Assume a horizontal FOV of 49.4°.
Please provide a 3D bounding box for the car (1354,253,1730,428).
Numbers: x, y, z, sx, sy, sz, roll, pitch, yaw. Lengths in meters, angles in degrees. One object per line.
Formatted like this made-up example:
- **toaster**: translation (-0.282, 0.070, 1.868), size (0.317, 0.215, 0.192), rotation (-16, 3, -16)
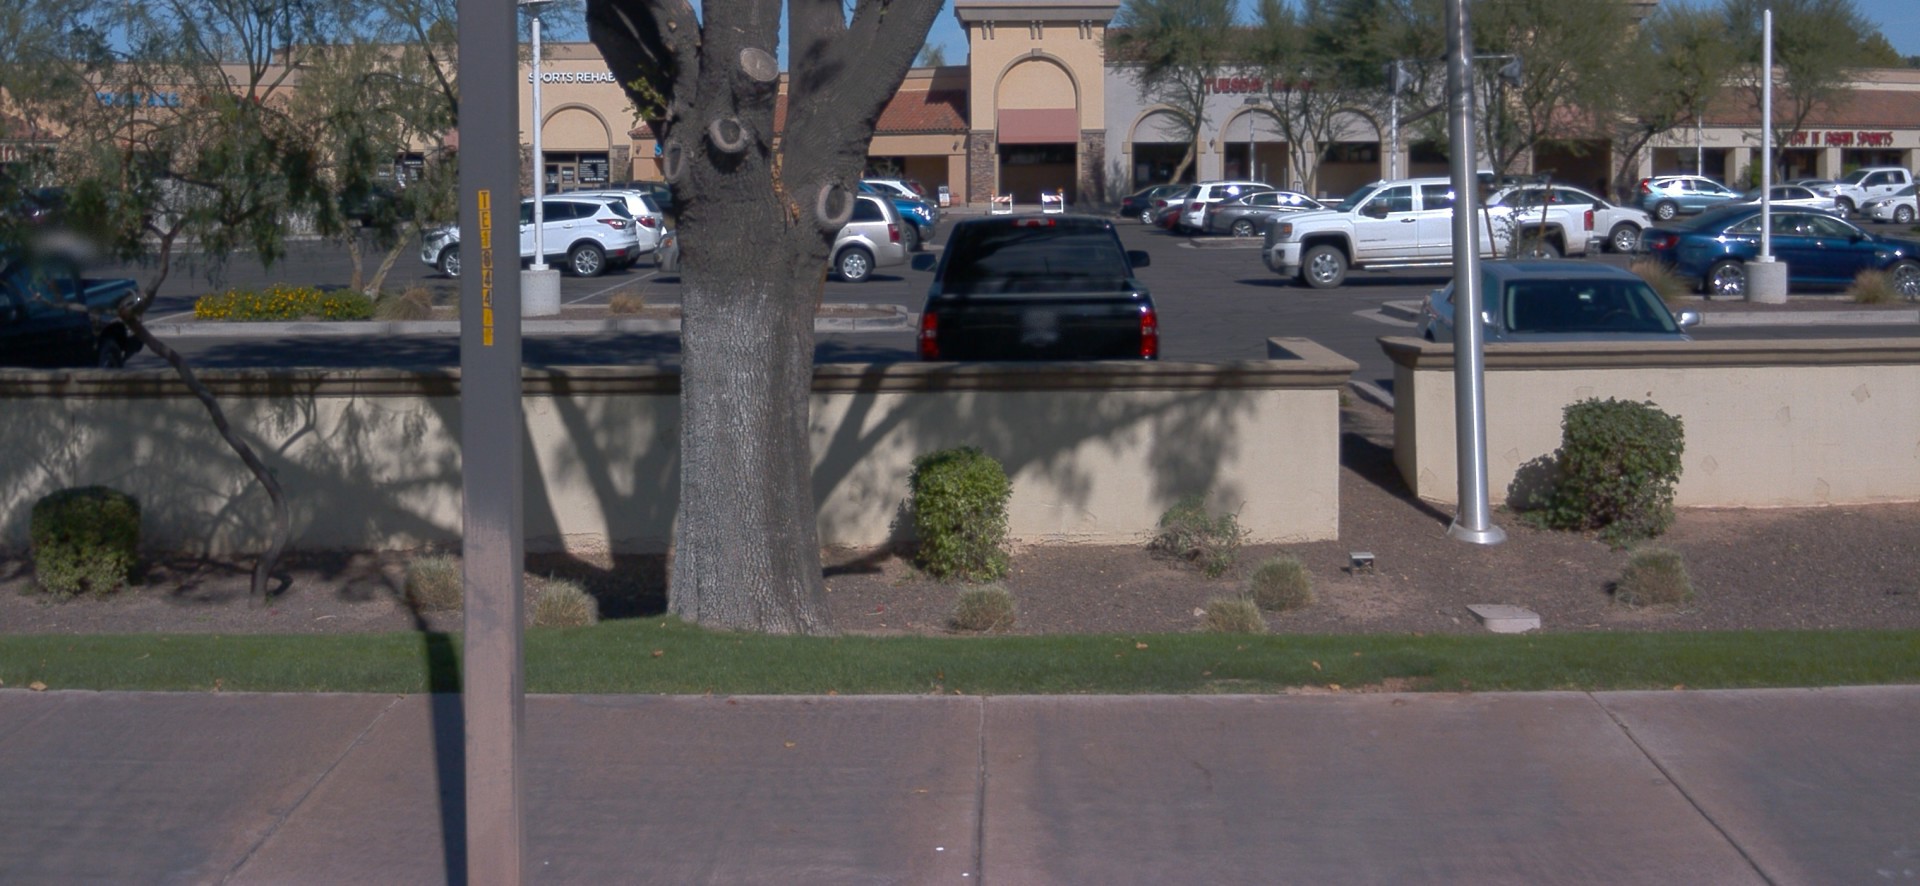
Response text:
- **car**: translation (5.126, -1.035, 19.123), size (2.187, 1.385, 4.572), rotation (0, 5, 0)

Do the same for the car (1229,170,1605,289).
- **car**: translation (8.277, -3.919, 38.367), size (6.385, 2.077, 2.468), rotation (0, 3, 0)

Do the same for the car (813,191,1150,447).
- **car**: translation (0.163, -1.189, 18.406), size (2.495, 1.883, 5.825), rotation (0, 5, 0)
